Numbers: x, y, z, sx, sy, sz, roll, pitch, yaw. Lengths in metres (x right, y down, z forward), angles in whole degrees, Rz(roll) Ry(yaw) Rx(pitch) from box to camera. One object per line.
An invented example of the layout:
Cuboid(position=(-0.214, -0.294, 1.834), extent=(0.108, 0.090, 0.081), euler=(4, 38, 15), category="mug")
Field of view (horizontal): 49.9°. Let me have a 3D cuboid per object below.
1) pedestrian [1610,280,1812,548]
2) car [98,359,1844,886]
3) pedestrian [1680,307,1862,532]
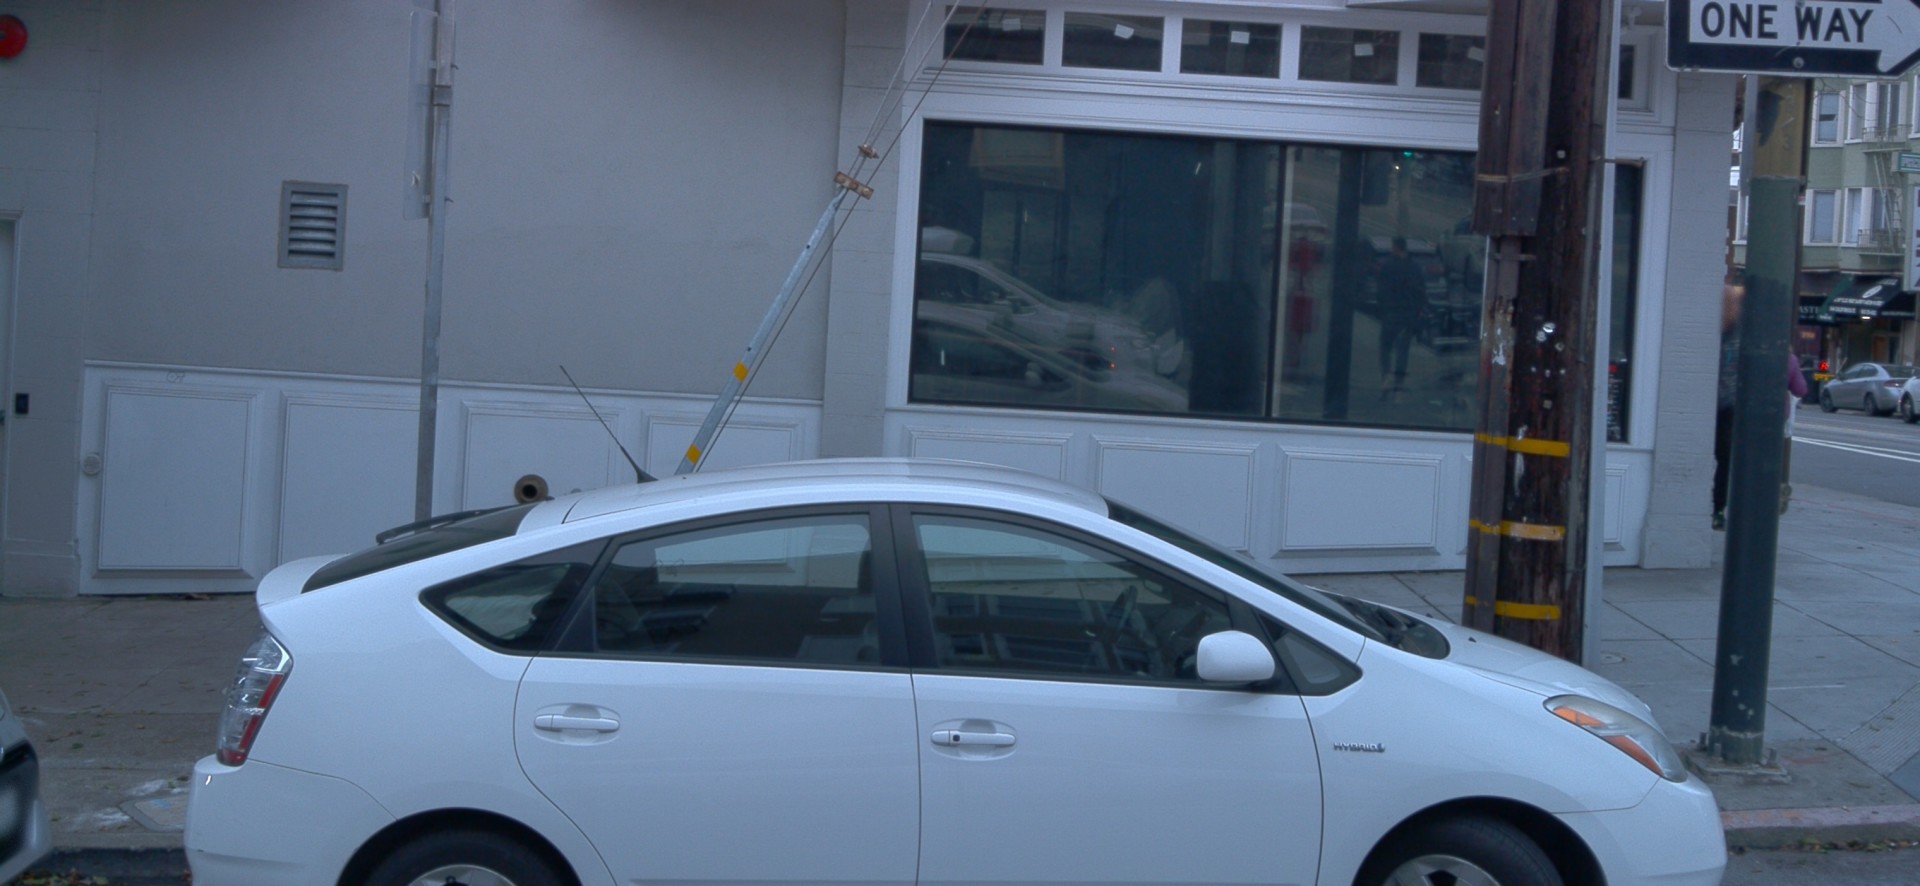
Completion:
Cuboid(position=(5.161, -0.239, 14.251), extent=(0.879, 1.712, 1.254), euler=(0, 3, -4), category="pedestrian")
Cuboid(position=(0.039, 0.750, 6.293), extent=(4.494, 1.824, 1.965), euler=(-1, 4, -2), category="car")
Cuboid(position=(6.345, -0.218, 16.199), extent=(0.940, 1.636, 1.190), euler=(0, 3, -2), category="pedestrian")
